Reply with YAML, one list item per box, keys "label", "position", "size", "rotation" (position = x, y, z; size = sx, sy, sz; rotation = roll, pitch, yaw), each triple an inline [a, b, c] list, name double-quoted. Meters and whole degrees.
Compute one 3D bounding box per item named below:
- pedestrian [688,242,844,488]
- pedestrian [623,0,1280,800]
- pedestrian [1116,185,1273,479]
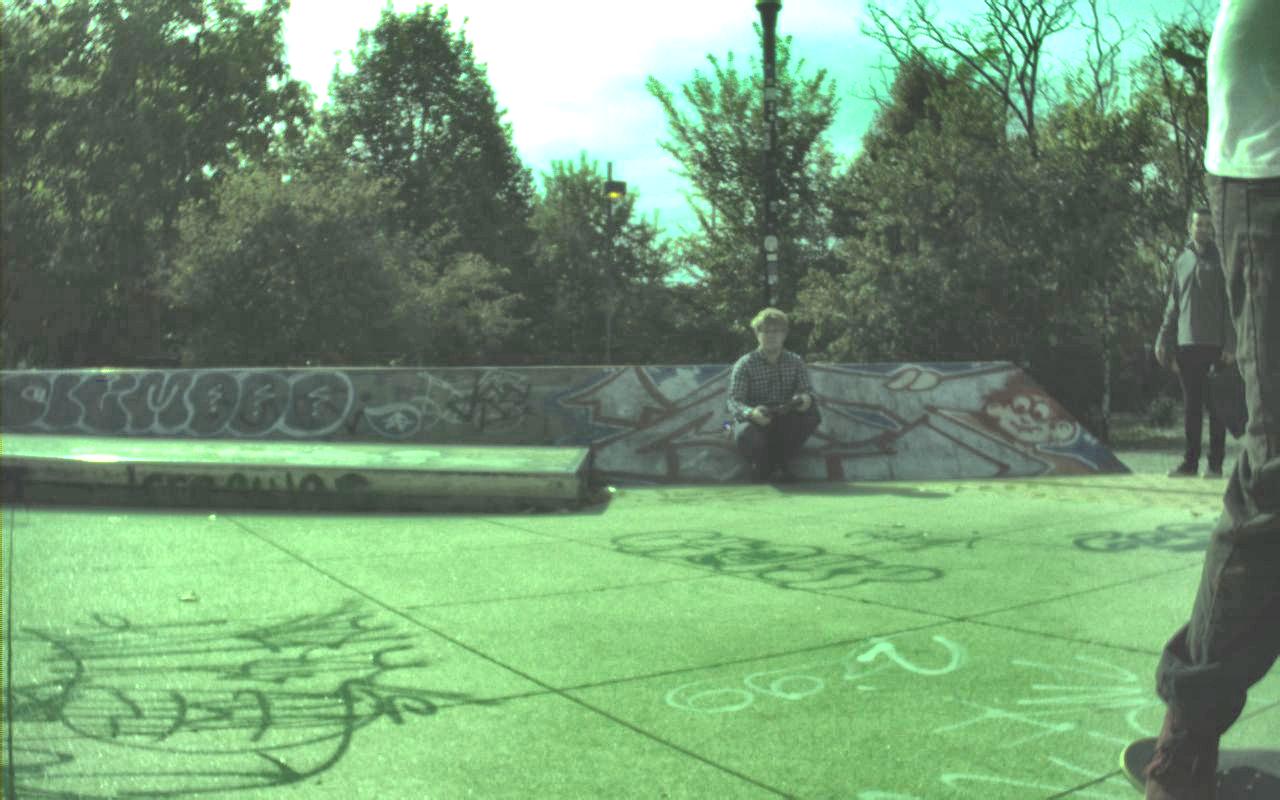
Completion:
- label: "pedestrian"
  position: [0.832, -0.226, 8.089]
  size: [0.877, 1.490, 0.845]
  rotation: [1, 0, 15]
- label: "pedestrian"
  position: [0.570, 0.211, 1.398]
  size: [0.846, 1.684, 0.821]
  rotation: [1, 0, 41]
- label: "pedestrian"
  position: [3.562, -0.406, 7.402]
  size: [0.785, 1.763, 0.793]
  rotation: [0, 0, -36]
